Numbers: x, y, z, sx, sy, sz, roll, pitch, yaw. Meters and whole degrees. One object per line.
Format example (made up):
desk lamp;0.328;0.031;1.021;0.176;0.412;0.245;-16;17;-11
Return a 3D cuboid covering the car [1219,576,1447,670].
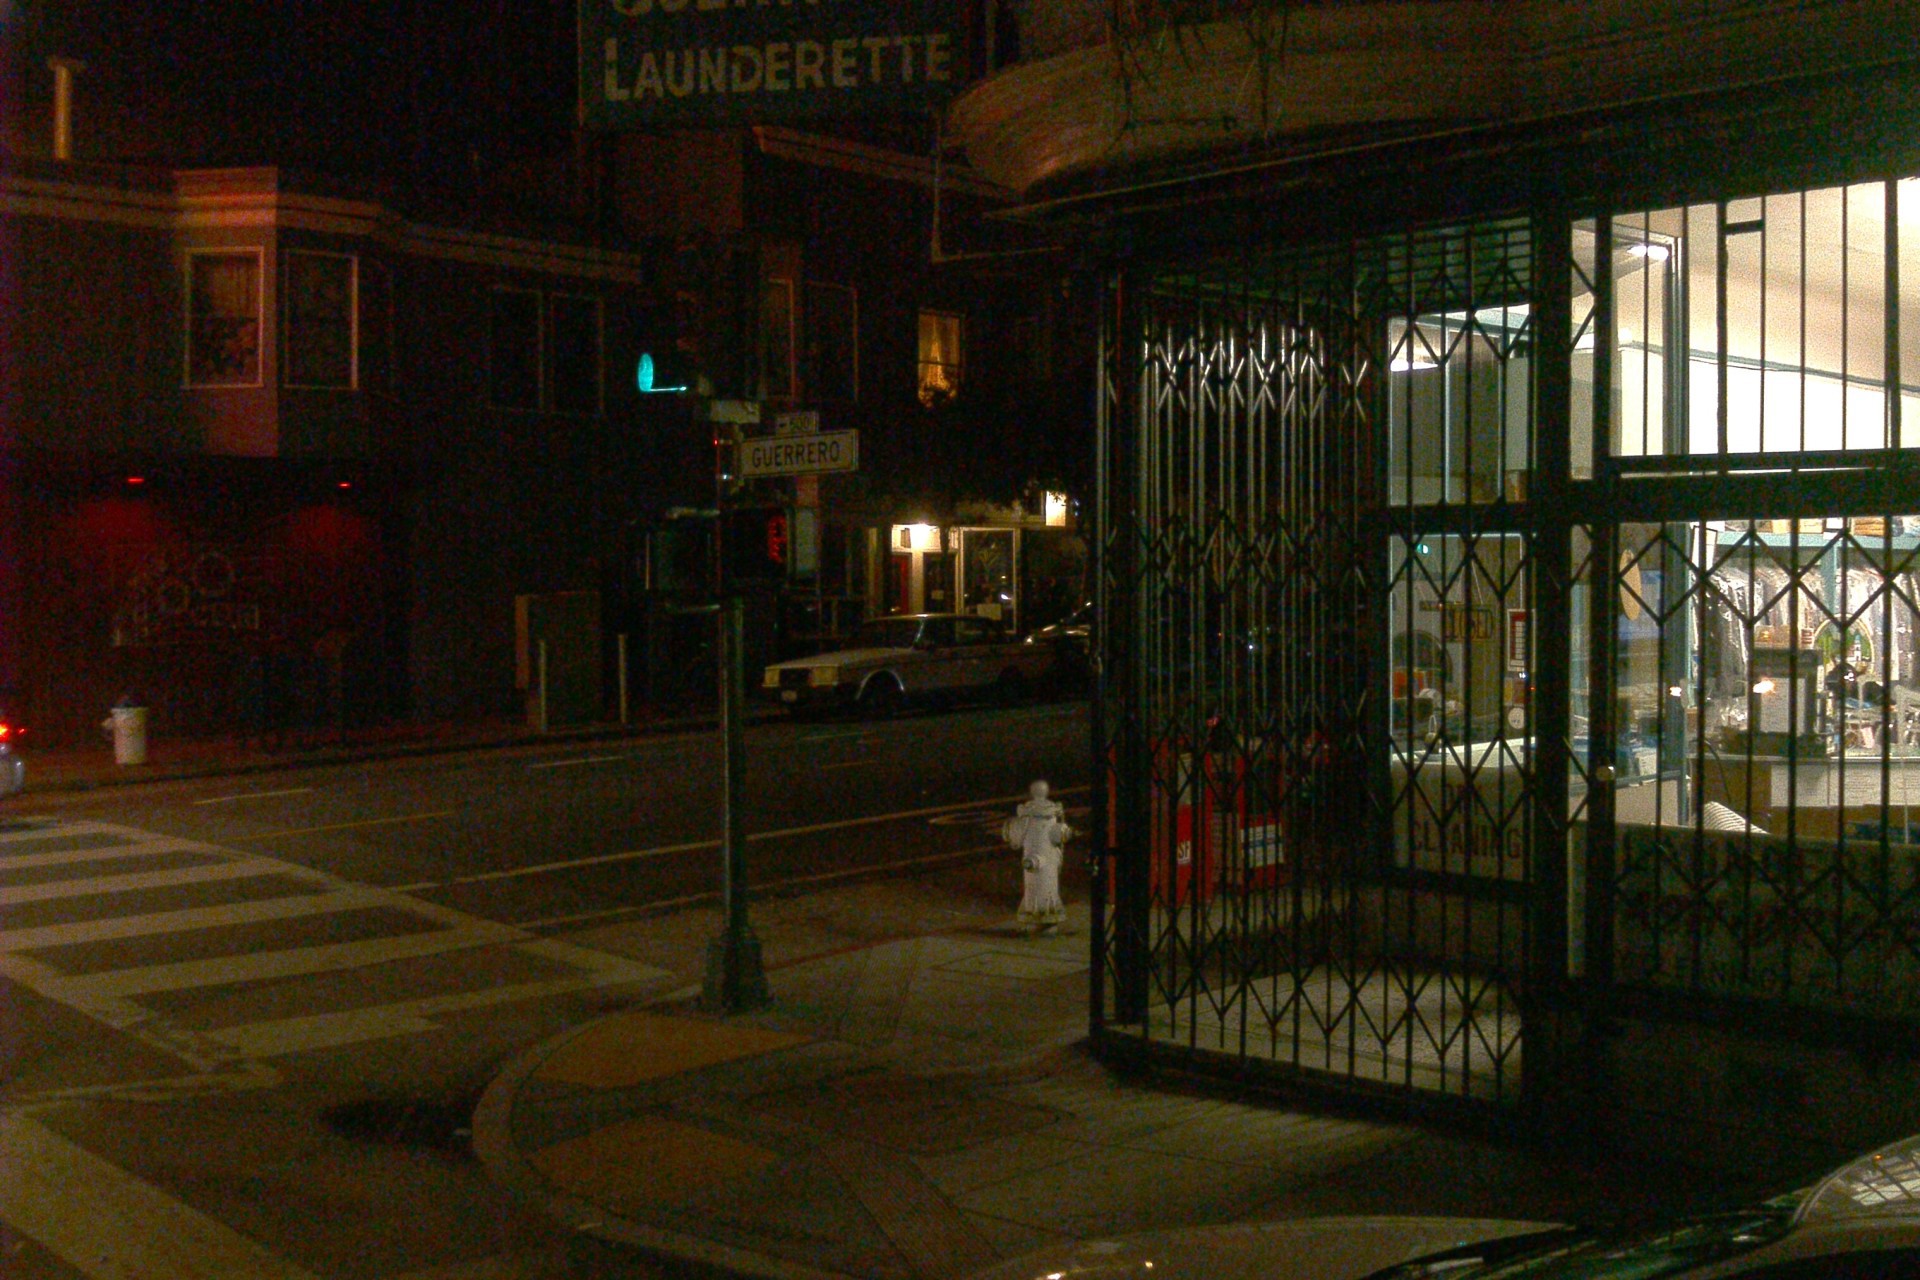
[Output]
car;6.680;-0.268;37.012;1.924;1.570;4.226;1;0;45

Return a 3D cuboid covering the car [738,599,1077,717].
car;-0.652;0.253;29.840;1.884;1.550;4.981;1;0;43

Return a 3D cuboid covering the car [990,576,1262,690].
car;2.702;-0.086;33.202;1.991;1.690;4.349;1;0;44

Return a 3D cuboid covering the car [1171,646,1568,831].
car;3.605;0.790;18.001;3.504;1.420;1.655;1;0;-45
